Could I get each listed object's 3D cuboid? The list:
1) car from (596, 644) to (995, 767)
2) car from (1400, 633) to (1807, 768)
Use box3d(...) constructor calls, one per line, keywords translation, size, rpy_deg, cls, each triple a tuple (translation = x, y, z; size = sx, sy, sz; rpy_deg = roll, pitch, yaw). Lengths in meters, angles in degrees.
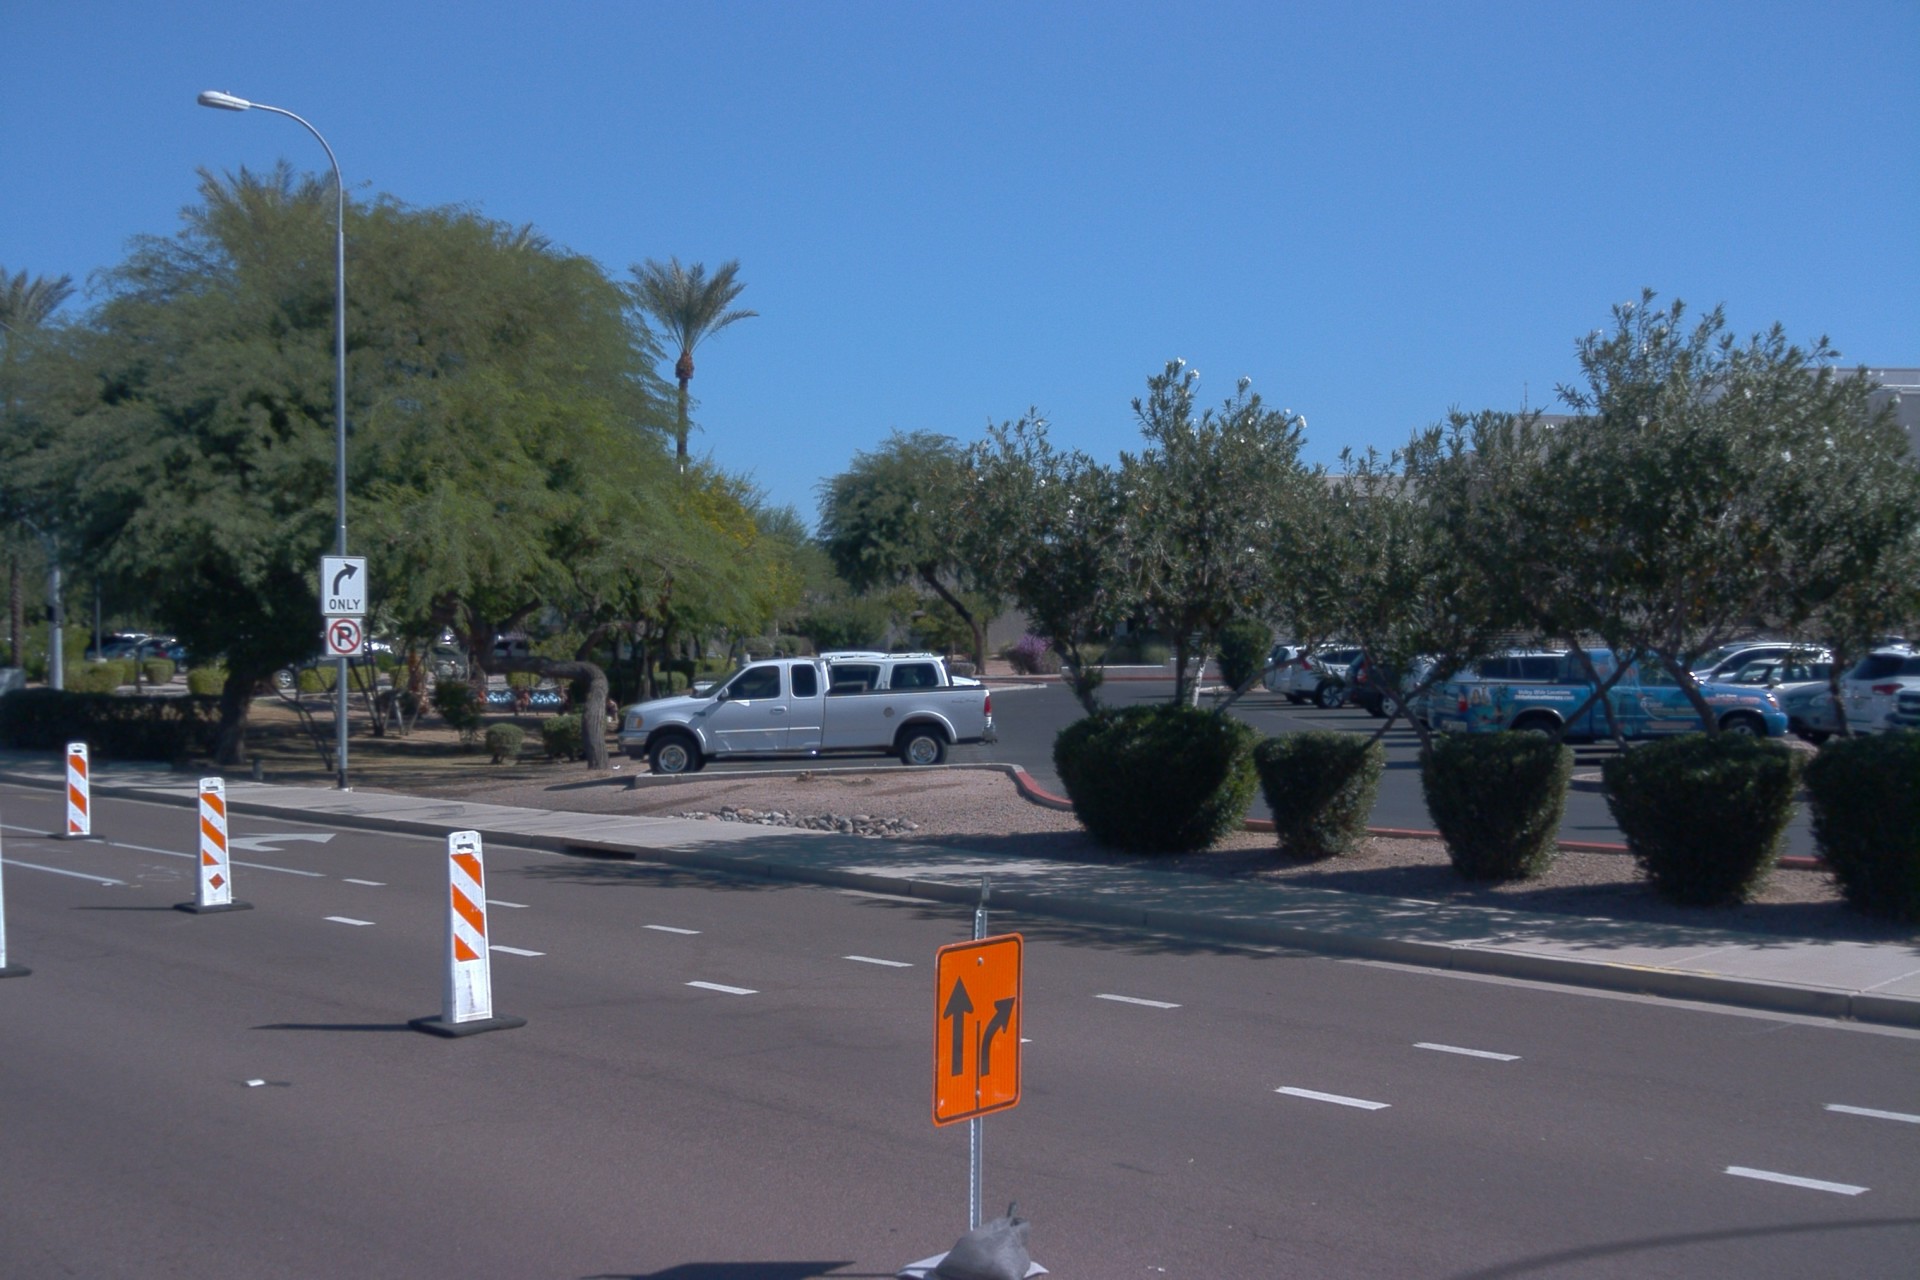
box3d(translation=(-2.624, 1.049, 33.850), size=(6.260, 1.900, 2.552), rpy_deg=(0, 0, -1), cls="car")
box3d(translation=(10.106, 0.939, 32.826), size=(5.729, 2.020, 2.180), rpy_deg=(0, 0, -1), cls="car")
